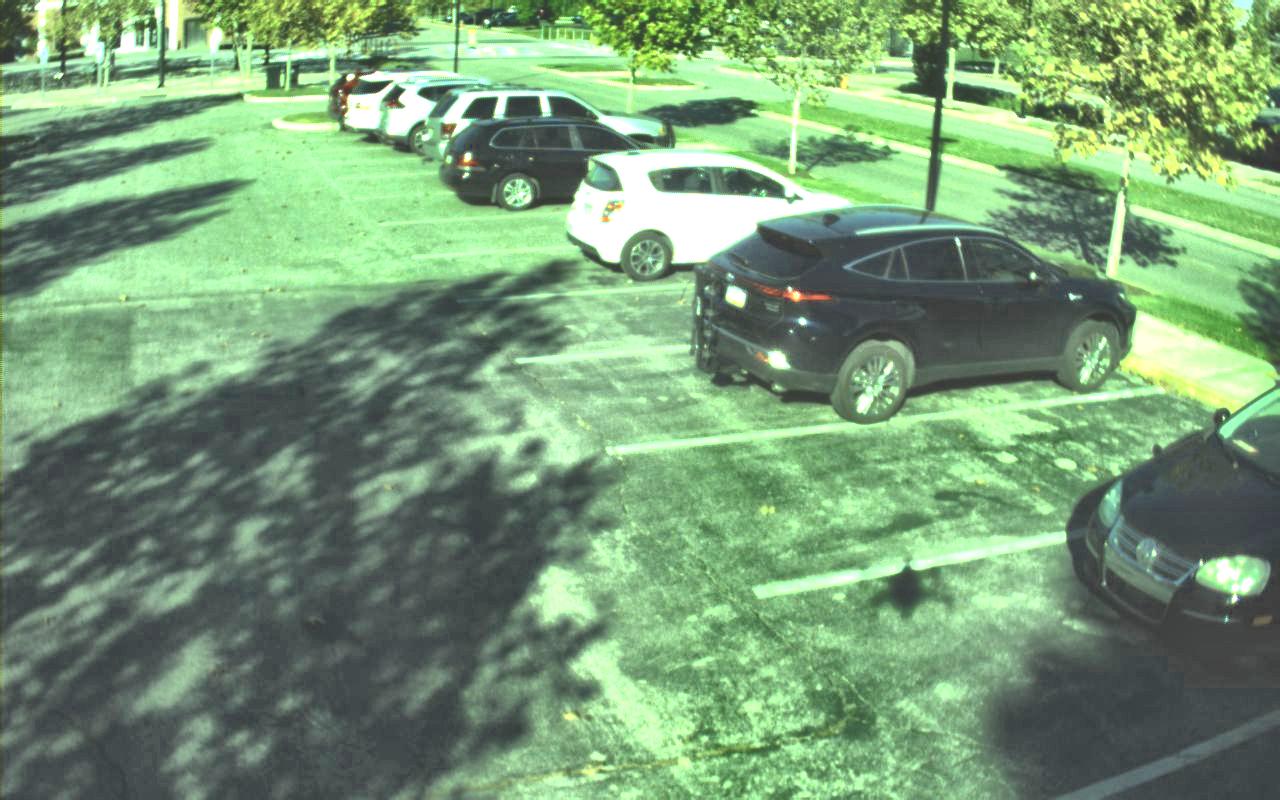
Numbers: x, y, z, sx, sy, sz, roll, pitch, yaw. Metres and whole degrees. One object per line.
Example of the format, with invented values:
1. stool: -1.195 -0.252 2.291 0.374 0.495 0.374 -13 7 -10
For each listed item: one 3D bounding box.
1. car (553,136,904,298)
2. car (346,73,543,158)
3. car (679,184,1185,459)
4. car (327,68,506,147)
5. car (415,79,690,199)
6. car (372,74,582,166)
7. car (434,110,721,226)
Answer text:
1. car: 1.189 -2.530 16.604 4.274 1.636 1.908 -7 17 -21
2. car: -4.841 -7.022 30.187 4.542 1.706 1.987 -8 17 -21
3. car: 2.880 -0.936 11.595 4.632 1.744 1.992 -8 18 -23
4. car: -6.040 -7.878 32.798 4.516 1.736 1.997 -8 18 -23
5. car: -1.701 -5.007 23.498 4.834 1.860 2.065 -7 17 -18
6. car: -3.749 -6.387 27.986 4.478 1.728 1.964 -7 17 -18
7. car: -1.080 -3.986 21.096 4.497 1.530 1.920 -7 17 -19
